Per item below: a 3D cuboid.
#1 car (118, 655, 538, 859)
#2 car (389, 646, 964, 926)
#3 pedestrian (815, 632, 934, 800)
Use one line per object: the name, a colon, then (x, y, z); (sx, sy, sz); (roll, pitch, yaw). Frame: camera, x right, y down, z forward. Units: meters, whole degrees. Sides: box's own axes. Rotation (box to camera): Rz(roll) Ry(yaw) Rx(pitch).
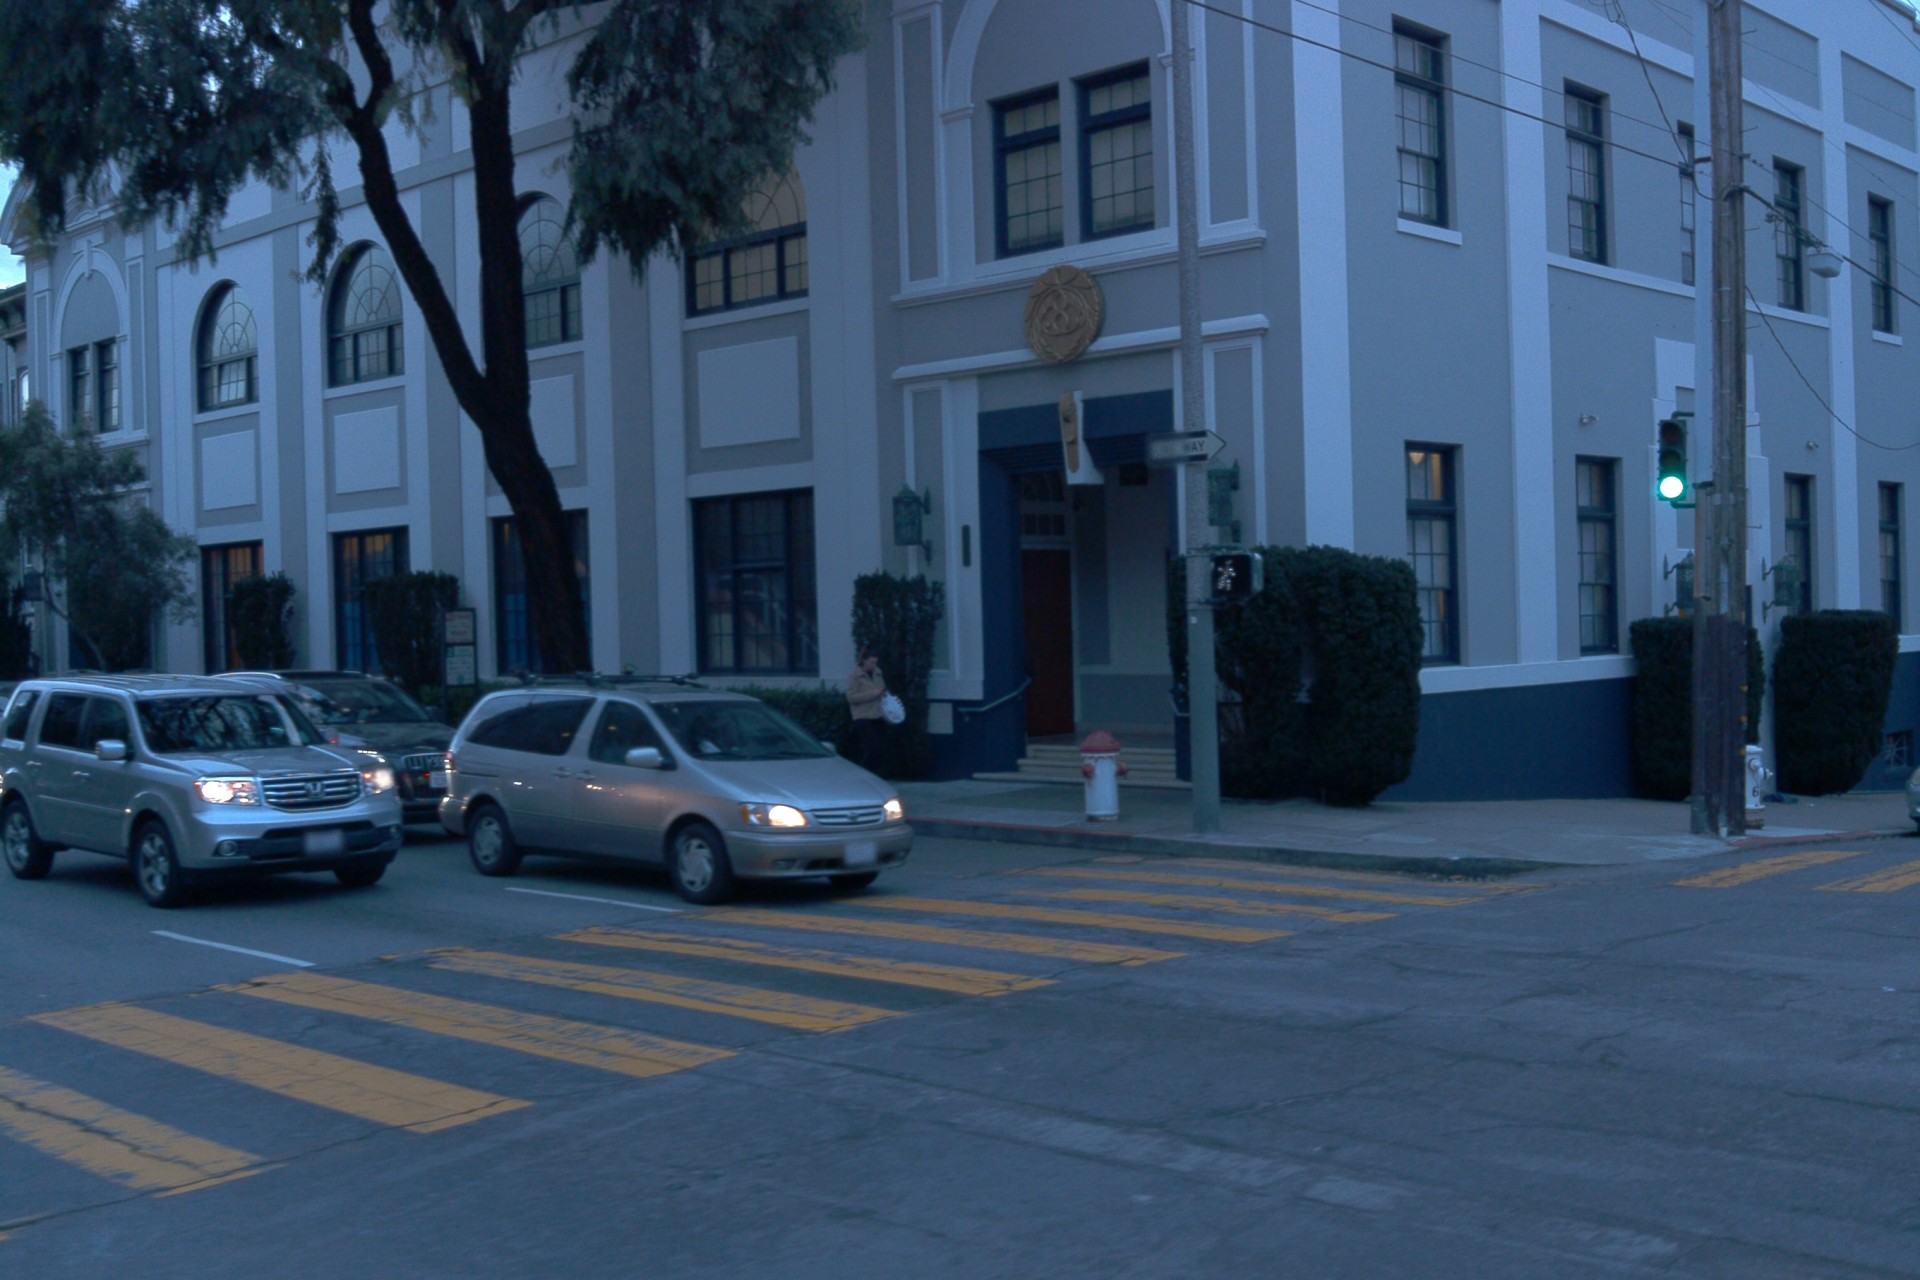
car: (-6.910, 1.137, 22.168); (4.978, 1.820, 2.228); (1, 1, 45)
car: (-2.549, 1.074, 17.534); (4.978, 1.950, 2.238); (1, 1, 44)
pedestrian: (-1.008, 0.870, 24.191); (1.087, 1.903, 0.865); (1, 1, 43)
